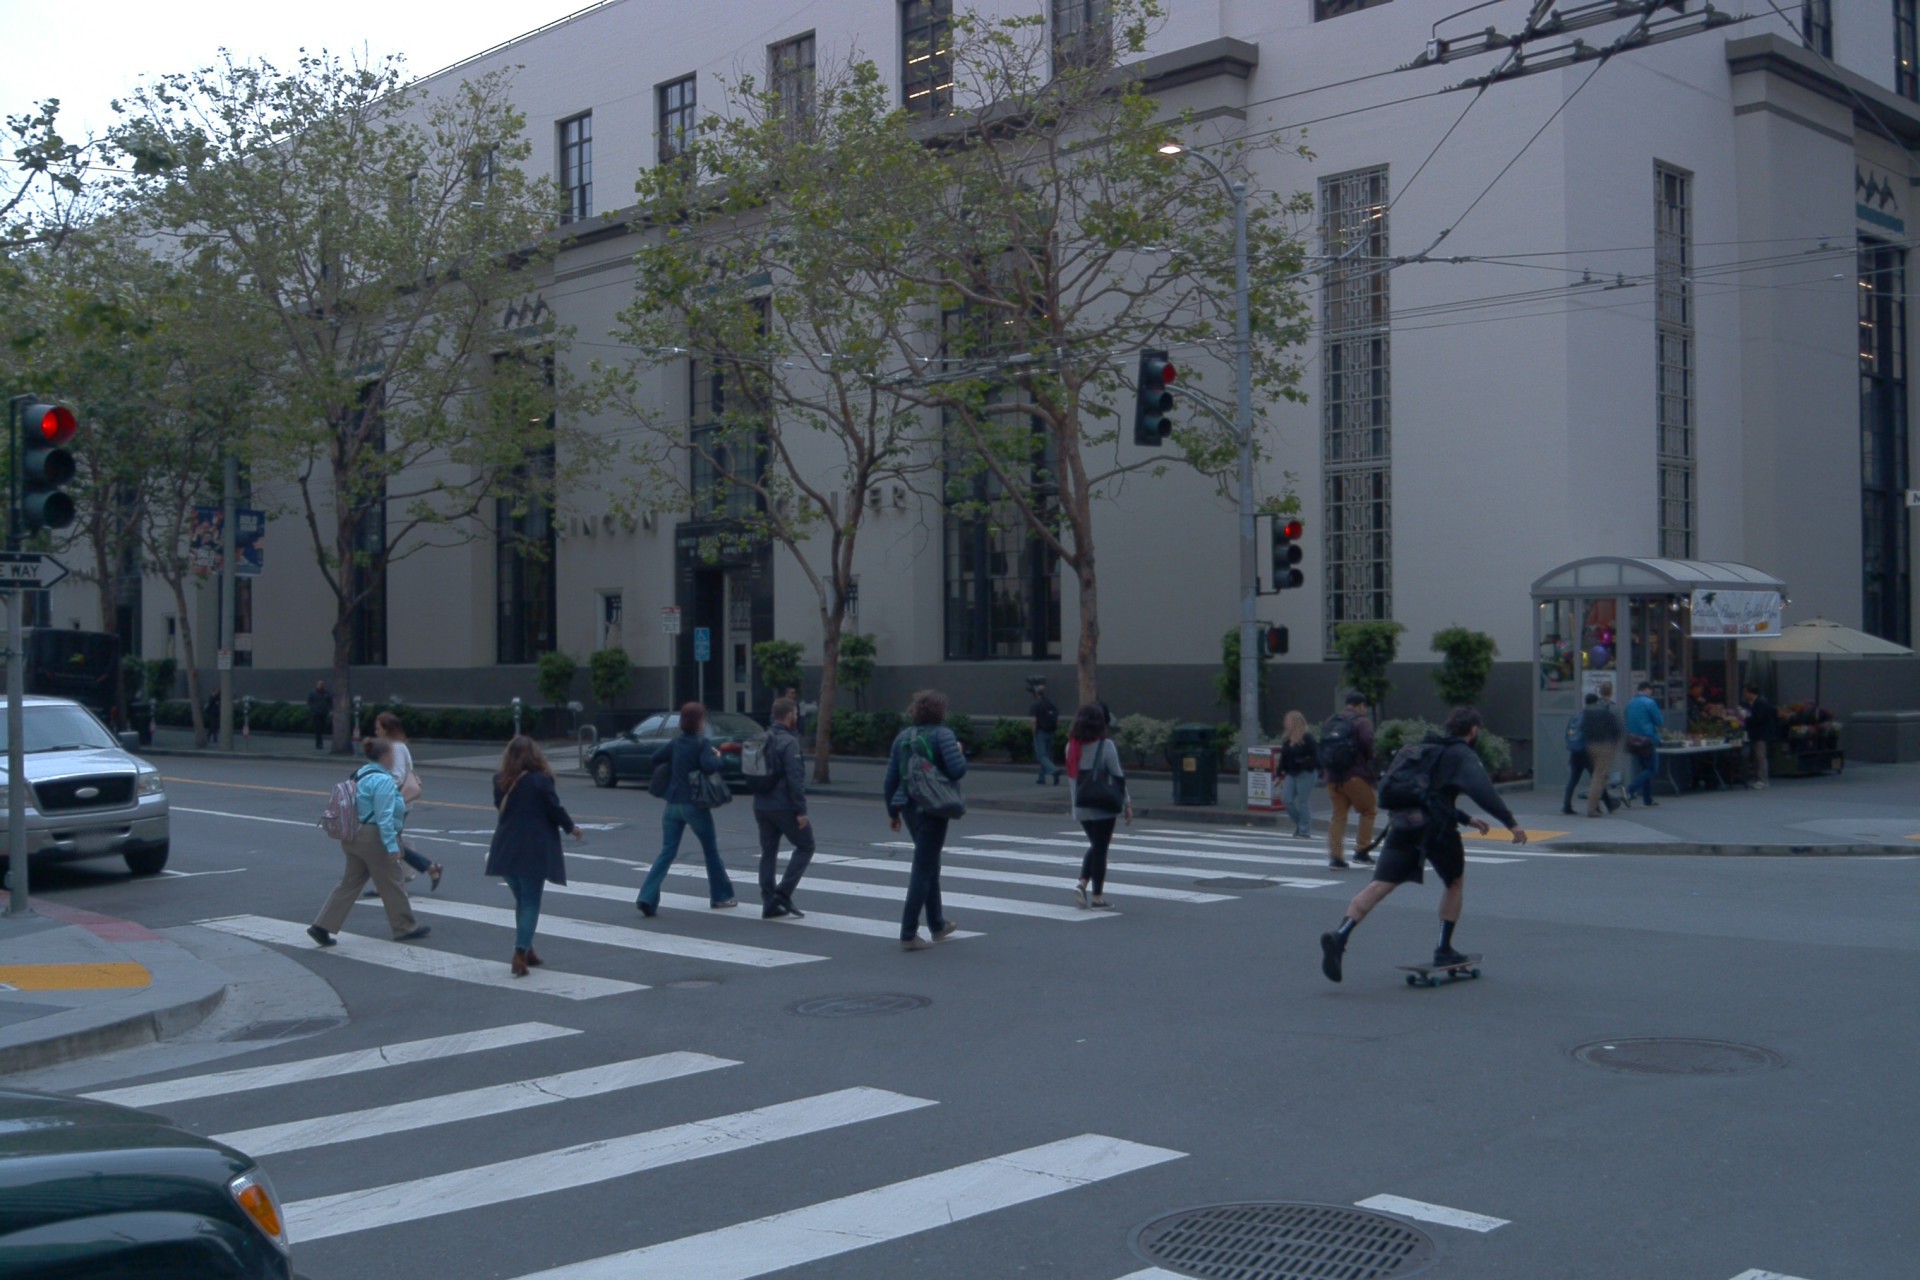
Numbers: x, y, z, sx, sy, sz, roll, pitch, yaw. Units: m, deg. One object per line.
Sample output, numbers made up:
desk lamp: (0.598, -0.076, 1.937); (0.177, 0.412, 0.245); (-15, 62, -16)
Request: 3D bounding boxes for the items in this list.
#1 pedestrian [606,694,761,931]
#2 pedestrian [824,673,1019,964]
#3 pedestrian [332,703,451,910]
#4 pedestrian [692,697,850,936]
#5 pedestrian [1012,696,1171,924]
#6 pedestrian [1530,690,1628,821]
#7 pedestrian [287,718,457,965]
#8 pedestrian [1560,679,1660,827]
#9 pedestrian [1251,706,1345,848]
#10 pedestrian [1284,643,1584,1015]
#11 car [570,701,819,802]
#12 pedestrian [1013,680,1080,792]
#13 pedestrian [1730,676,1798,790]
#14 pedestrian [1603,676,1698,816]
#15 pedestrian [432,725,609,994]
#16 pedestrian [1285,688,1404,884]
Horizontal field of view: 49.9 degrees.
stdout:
pedestrian: (-2.310, 1.403, 17.235); (0.828, 1.856, 0.973); (1, 1, 44)
pedestrian: (-0.268, 1.241, 14.919); (0.842, 1.969, 1.167); (1, 1, 41)
pedestrian: (-5.165, 1.496, 18.794); (0.938, 1.800, 0.809); (0, 1, -8)
pedestrian: (-1.526, 1.388, 16.670); (0.942, 1.809, 0.849); (-1, 1, -43)
pedestrian: (1.077, 1.353, 16.831); (1.044, 1.739, 0.795); (-1, 1, -44)
pedestrian: (8.449, 1.557, 28.205); (0.974, 1.706, 0.840); (0, 1, -22)
pedestrian: (-4.539, 1.514, 15.925); (1.013, 1.767, 0.829); (-1, 1, -38)
pedestrian: (8.707, 1.495, 27.634); (1.051, 1.896, 0.762); (-1, 1, -29)
pedestrian: (4.131, 1.659, 25.239); (0.894, 1.646, 0.735); (-1, 1, -40)
pedestrian: (2.943, 1.091, 12.796); (1.543, 2.118, 1.097); (-1, 1, -40)
car: (-4.788, 1.934, 36.791); (2.016, 1.480, 4.678); (-1, 1, -44)
pedestrian: (1.477, 1.627, 35.278); (0.681, 1.856, 0.975); (-1, 1, -38)
pedestrian: (12.743, 1.459, 32.695); (0.751, 1.746, 0.848); (1, 1, 42)
pedestrian: (9.735, 1.475, 29.112); (0.983, 1.896, 0.798); (0, 1, -23)
pedestrian: (-3.028, 1.485, 14.289); (0.883, 1.741, 0.891); (0, 1, 14)
pedestrian: (3.658, 1.359, 19.620); (0.716, 1.771, 0.964); (1, 1, 42)
